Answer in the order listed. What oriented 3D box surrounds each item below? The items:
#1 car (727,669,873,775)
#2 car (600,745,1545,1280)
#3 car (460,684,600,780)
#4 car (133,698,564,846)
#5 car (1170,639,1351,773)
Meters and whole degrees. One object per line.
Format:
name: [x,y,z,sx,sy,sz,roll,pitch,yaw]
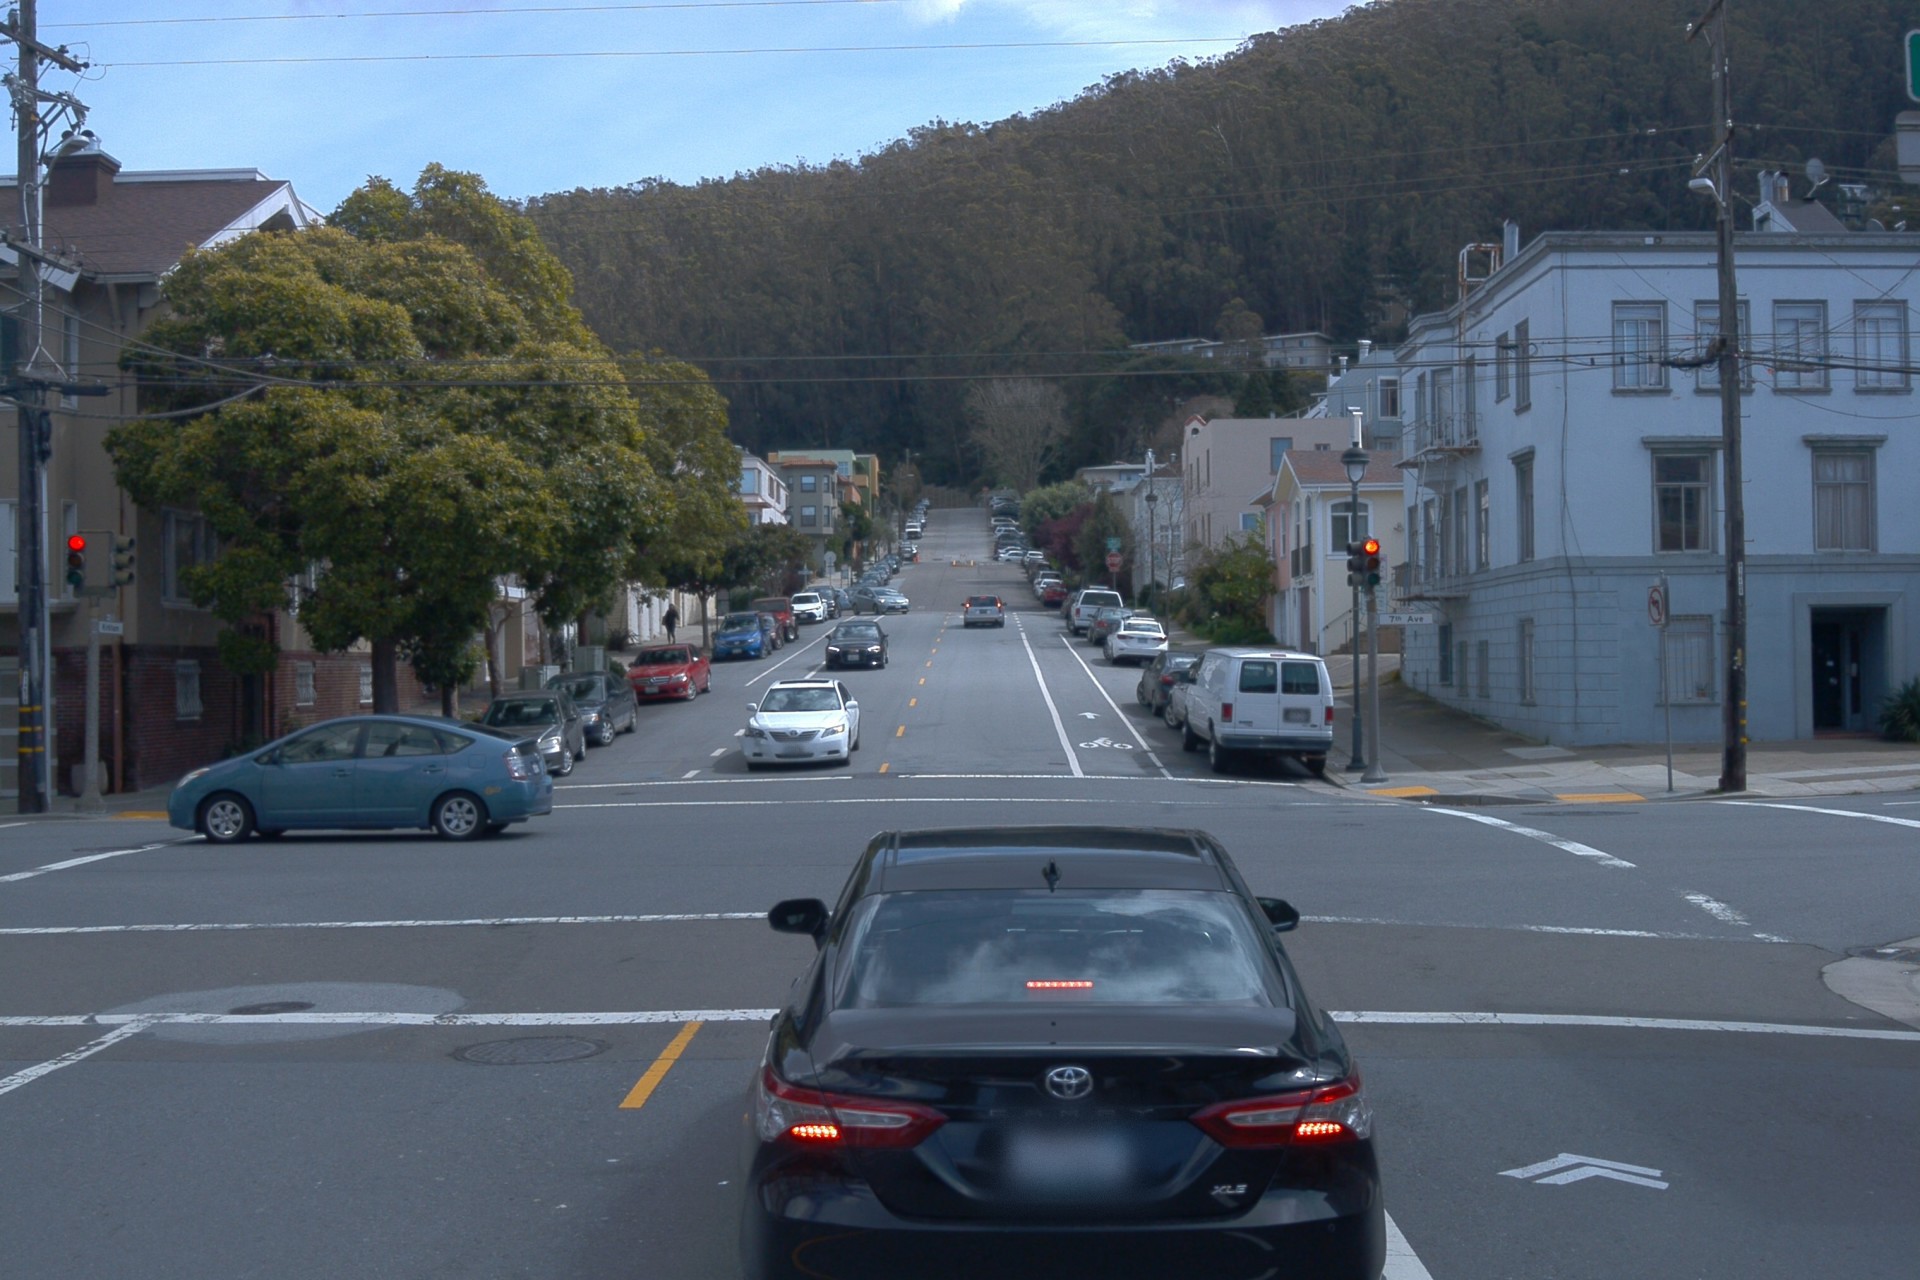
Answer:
car: [-2.840,1.439,37.699,2.209,1.750,4.541,0,0,1]
car: [0.282,1.304,7.305,2.249,1.620,4.798,0,0,0]
car: [-7.707,1.616,37.254,1.836,1.560,4.133,0,0,-3]
car: [-7.030,1.508,24.043,4.413,1.600,1.991,0,0,0]
car: [5.314,1.112,37.226,2.299,2.250,5.313,0,0,-2]
